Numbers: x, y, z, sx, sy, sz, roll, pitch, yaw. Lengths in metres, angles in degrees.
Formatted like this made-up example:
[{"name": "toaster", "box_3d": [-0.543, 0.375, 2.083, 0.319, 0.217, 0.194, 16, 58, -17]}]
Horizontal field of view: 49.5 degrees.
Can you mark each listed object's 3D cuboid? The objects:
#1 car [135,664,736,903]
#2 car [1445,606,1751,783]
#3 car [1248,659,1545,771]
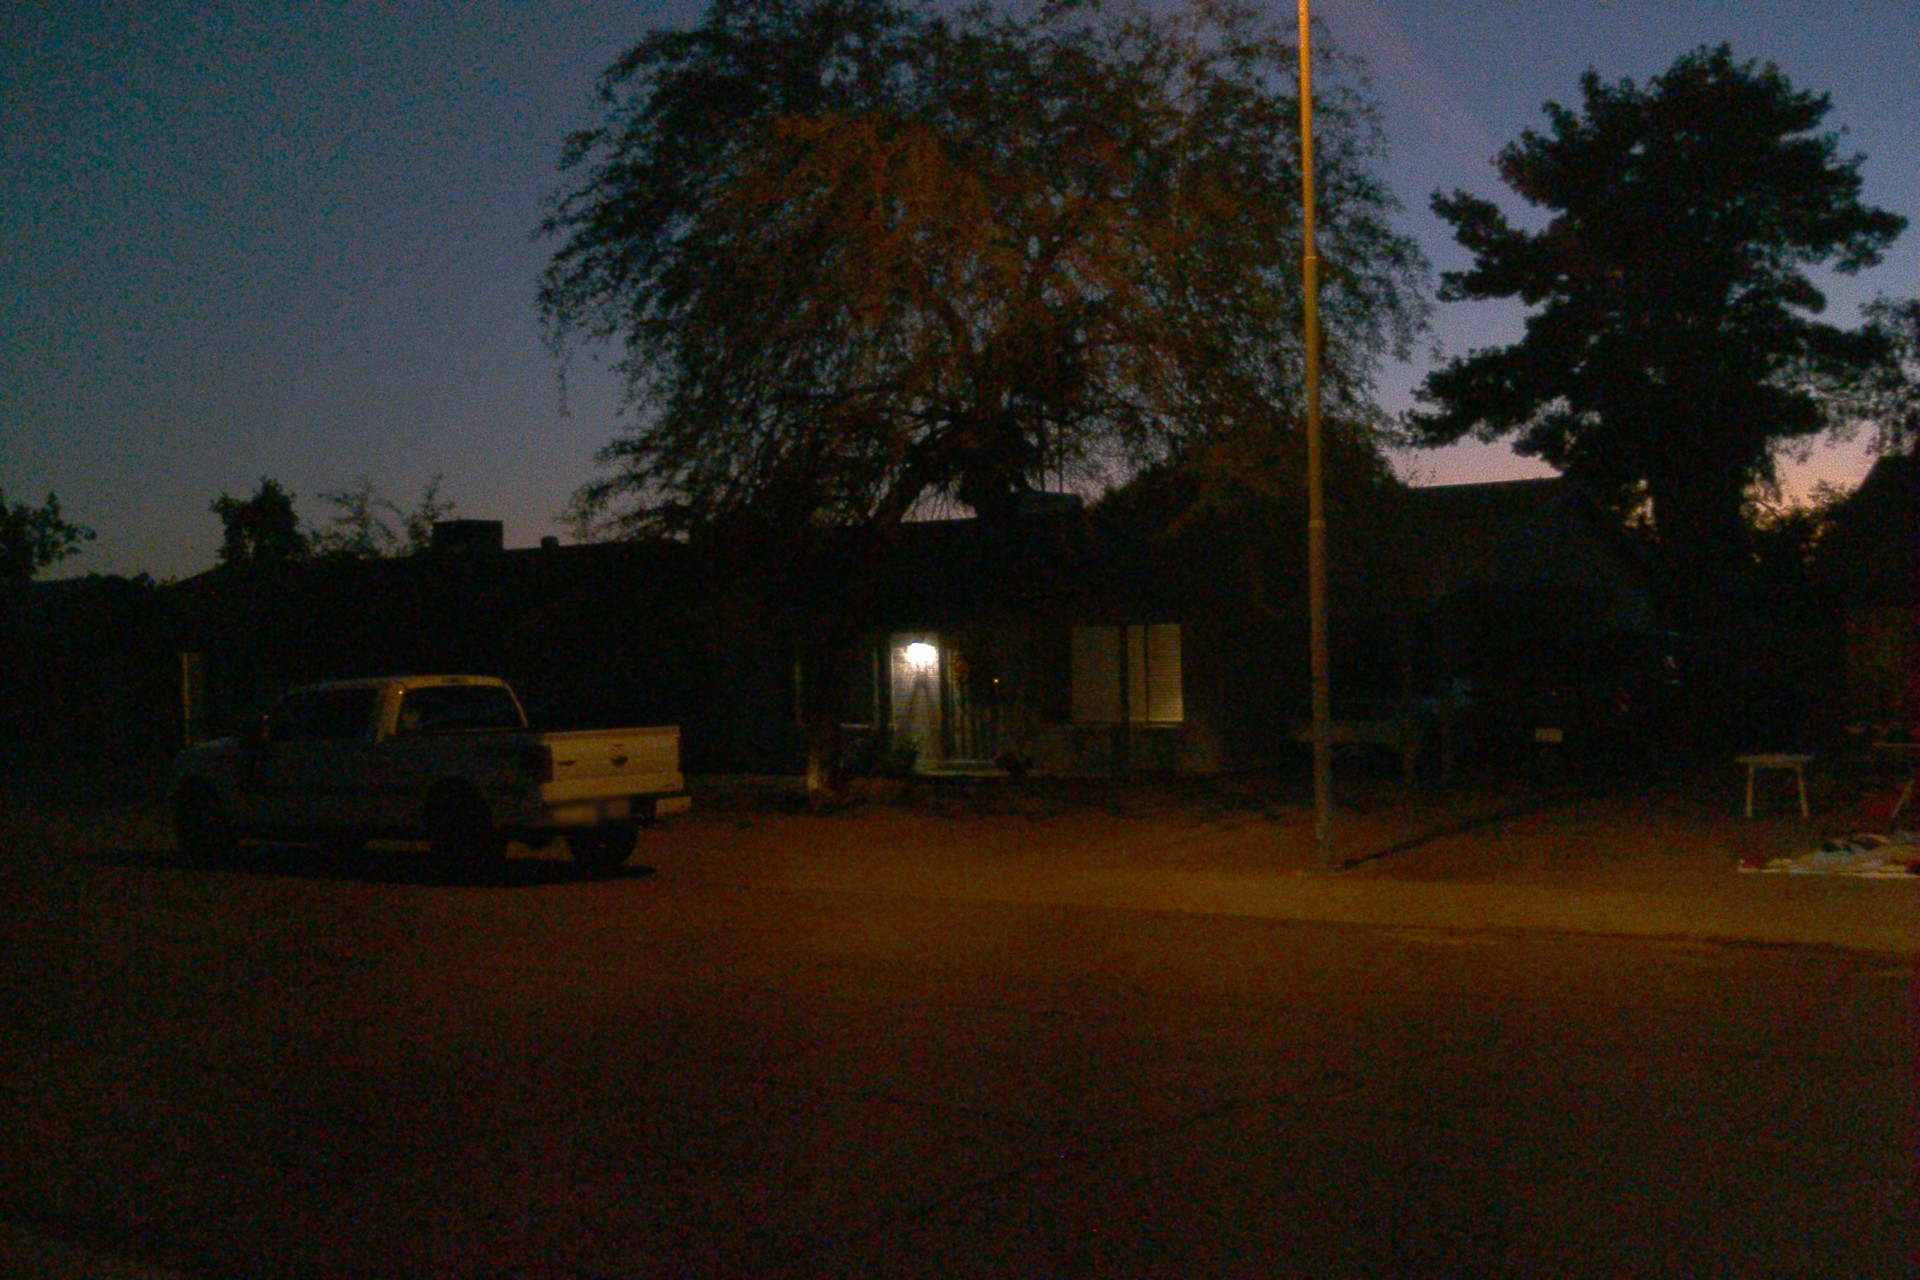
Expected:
[{"name": "car", "box_3d": [-5.431, 1.293, 21.062, 6.287, 2.010, 2.334, 1, 0, 35]}, {"name": "car", "box_3d": [8.502, 0.648, 27.264, 2.342, 2.050, 6.020, 1, 0, 32]}, {"name": "car", "box_3d": [6.092, 0.976, 28.730, 2.210, 1.390, 4.299, 1, 0, 40]}]
